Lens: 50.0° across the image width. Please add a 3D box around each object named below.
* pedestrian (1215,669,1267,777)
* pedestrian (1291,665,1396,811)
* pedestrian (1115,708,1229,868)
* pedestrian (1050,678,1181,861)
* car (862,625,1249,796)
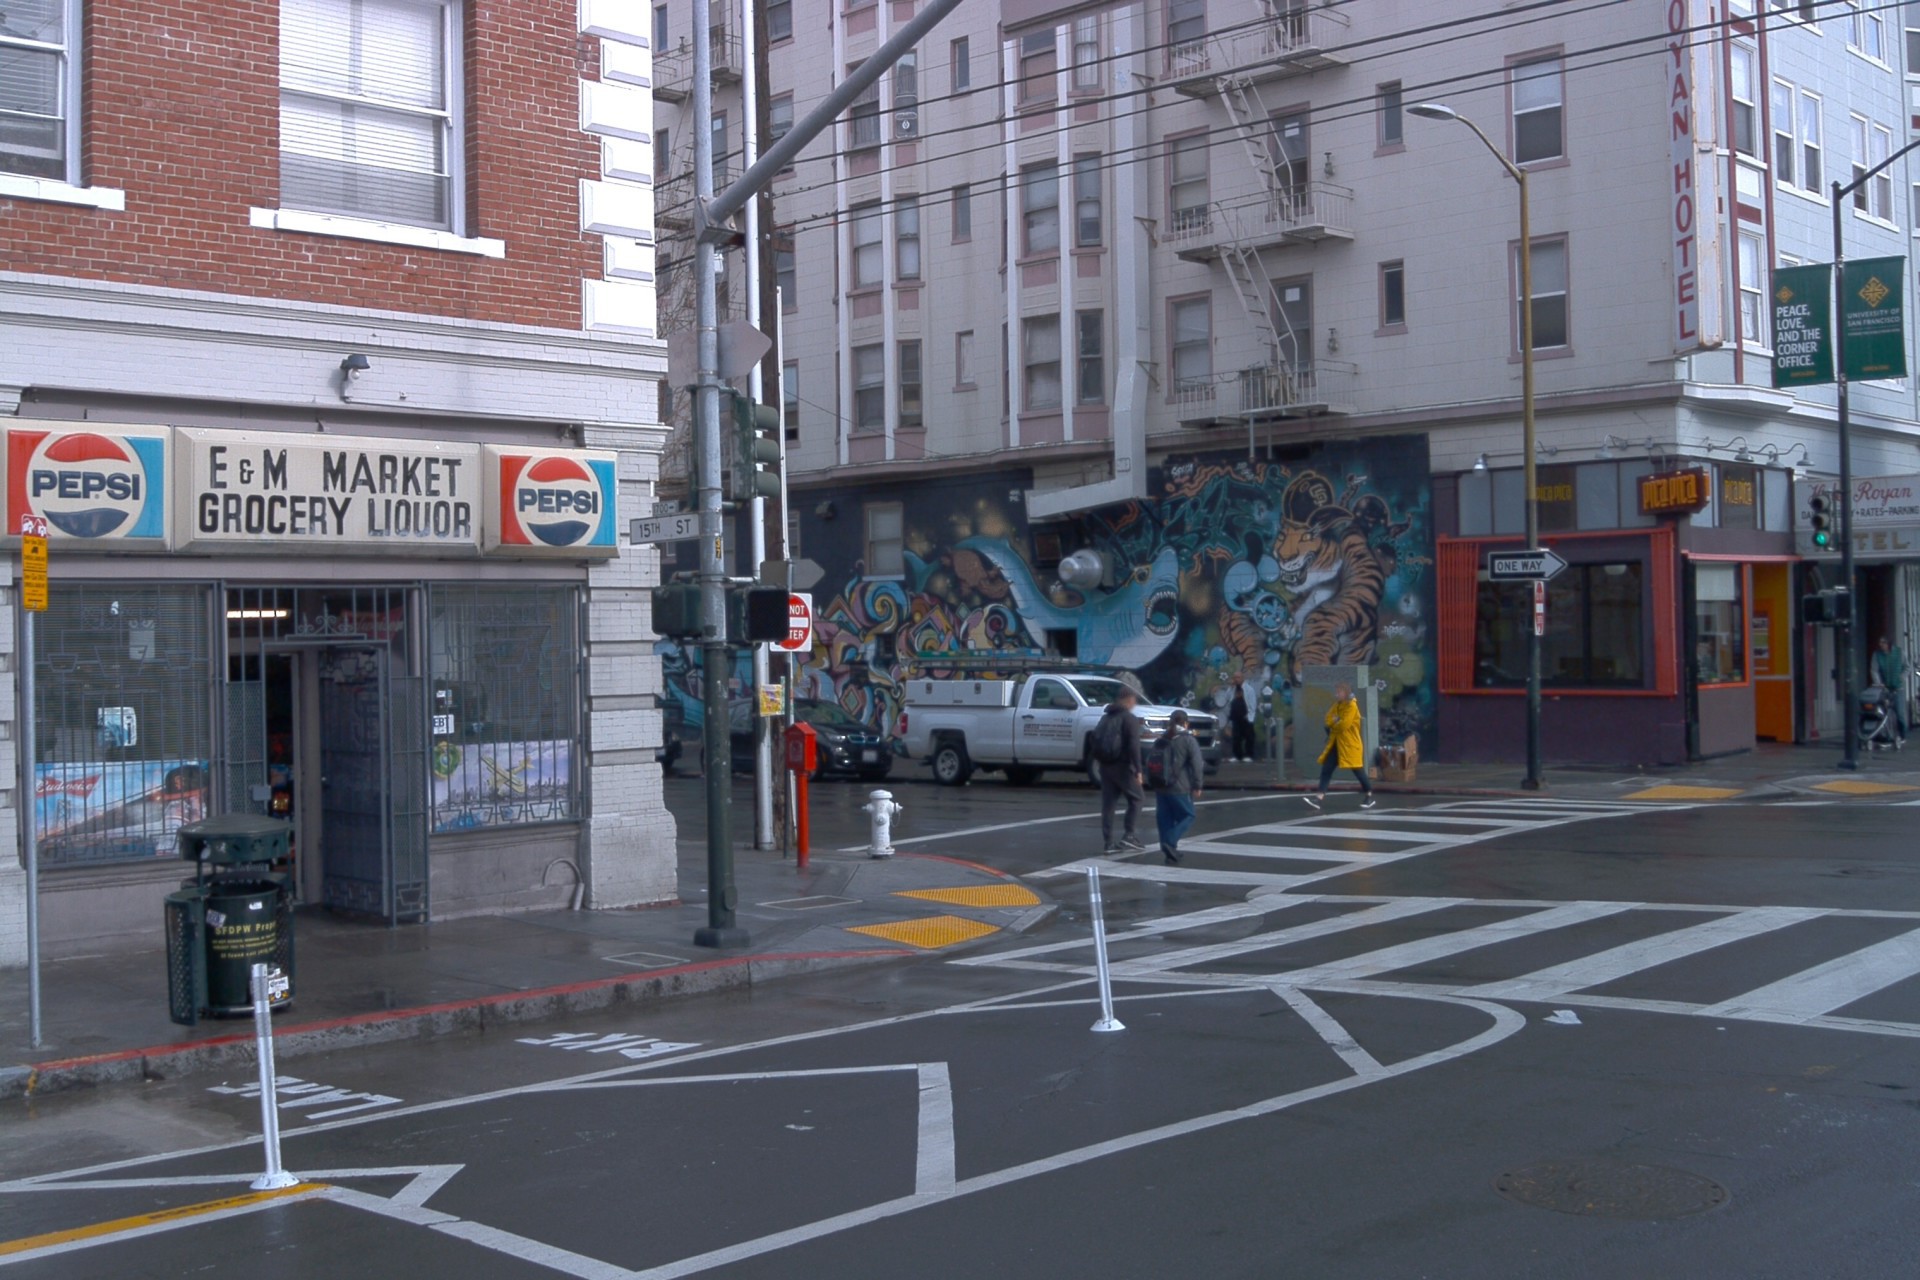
[{"bbox_3d":[5.042,1.483,36.926,0.676,1.880,0.623,1,2,45],"label":"pedestrian"},{"bbox_3d":[4.808,1.210,25.767,1.041,1.750,0.760,0,1,-30],"label":"pedestrian"},{"bbox_3d":[2.161,1.487,20.969,0.830,1.530,0.803,-1,1,-44],"label":"pedestrian"},{"bbox_3d":[1.643,1.341,21.769,1.077,1.830,0.861,-1,1,-39],"label":"pedestrian"},{"bbox_3d":[1.408,1.014,33.124,6.249,2.440,2.327,1,1,45],"label":"car"}]
